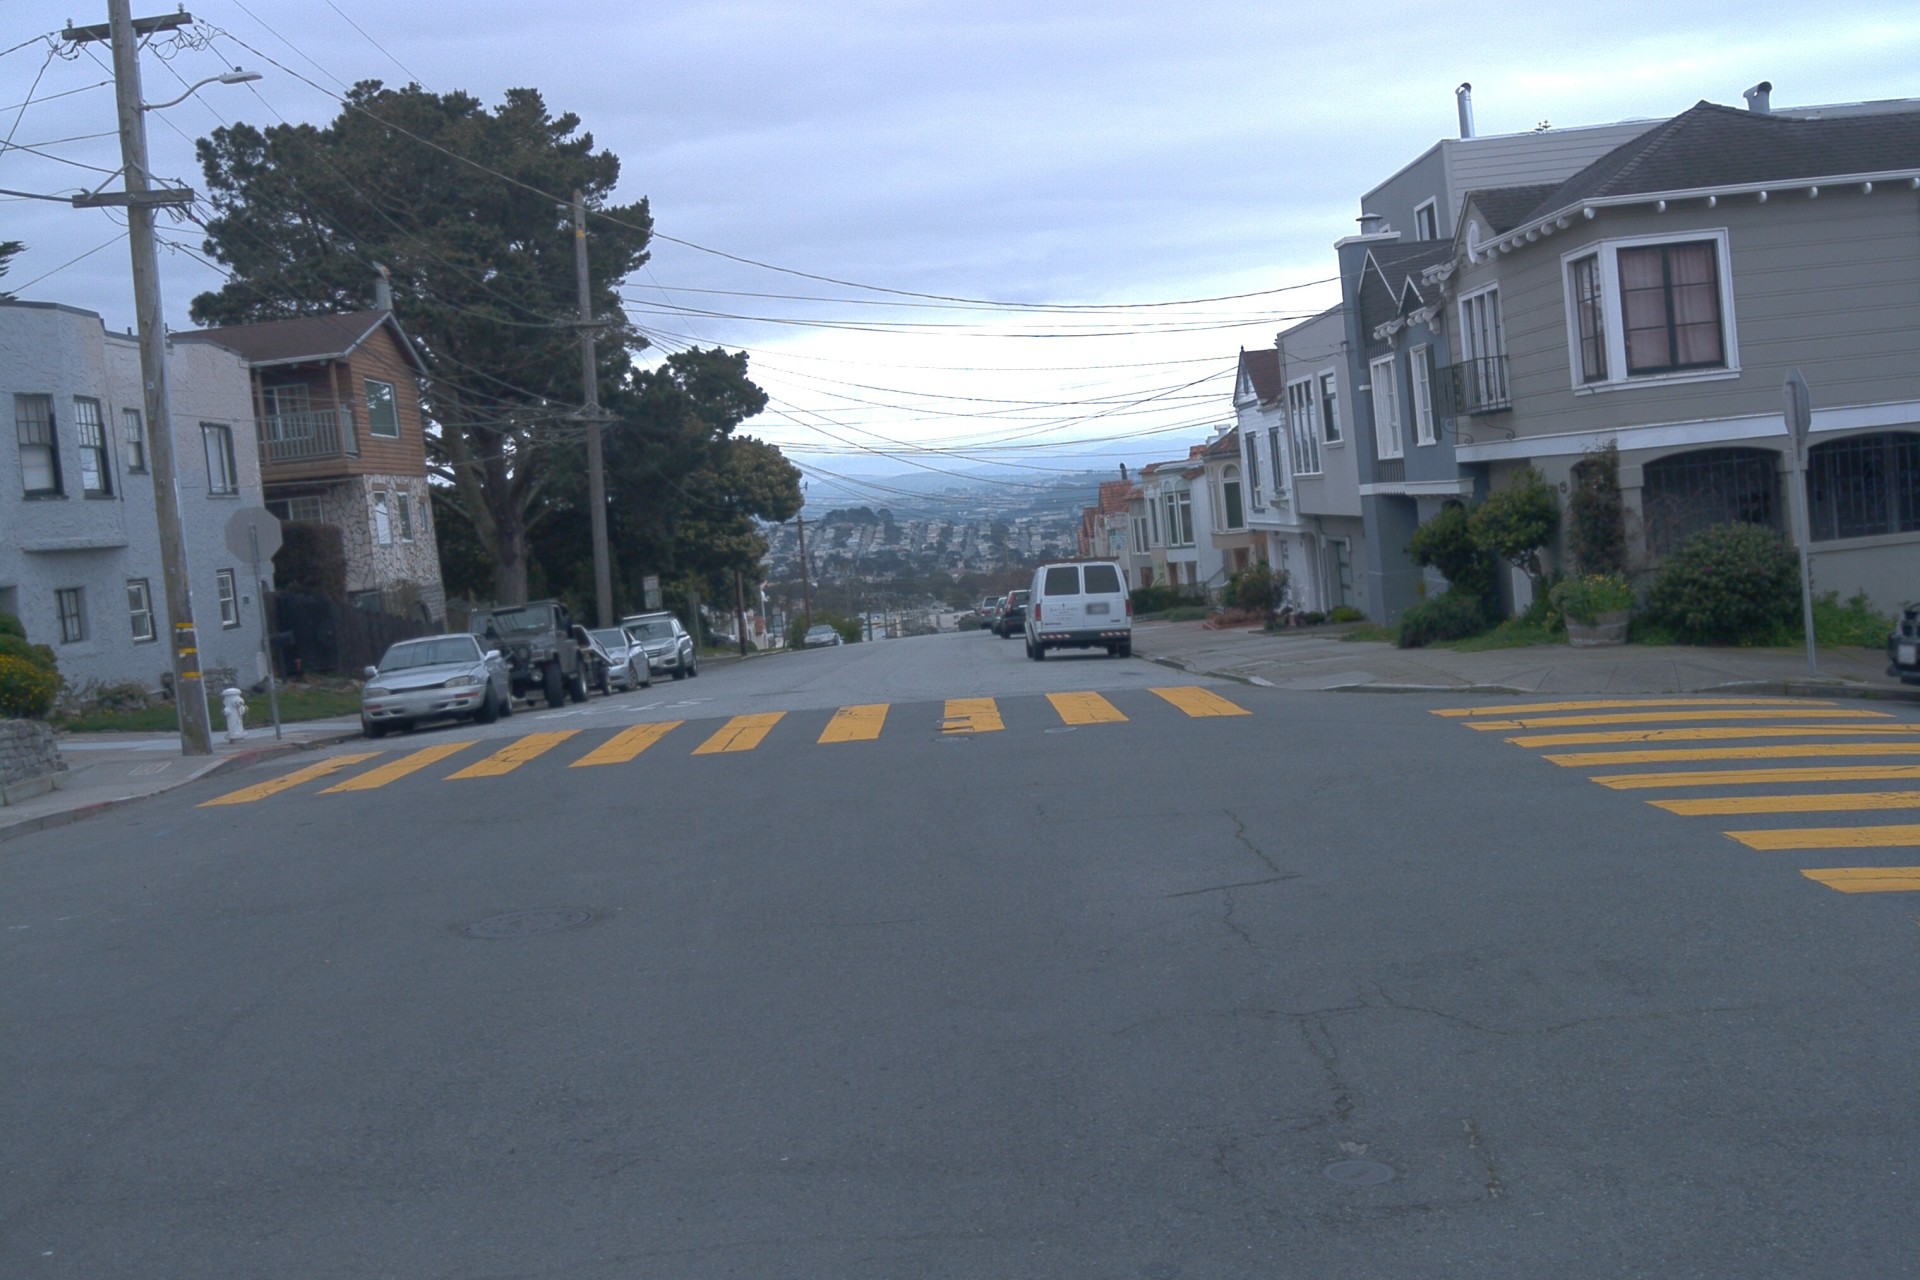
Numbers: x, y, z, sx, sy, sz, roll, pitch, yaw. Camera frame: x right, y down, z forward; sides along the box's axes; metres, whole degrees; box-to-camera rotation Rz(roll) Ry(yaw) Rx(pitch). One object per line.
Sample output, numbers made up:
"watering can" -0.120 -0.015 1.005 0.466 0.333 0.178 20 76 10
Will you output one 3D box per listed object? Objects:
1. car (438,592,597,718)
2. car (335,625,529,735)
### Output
"car" -7.485 0.240 35.257 1.997 2.030 4.191 0 0 -3
"car" -7.704 0.545 30.531 2.100 1.500 4.825 0 0 -6
